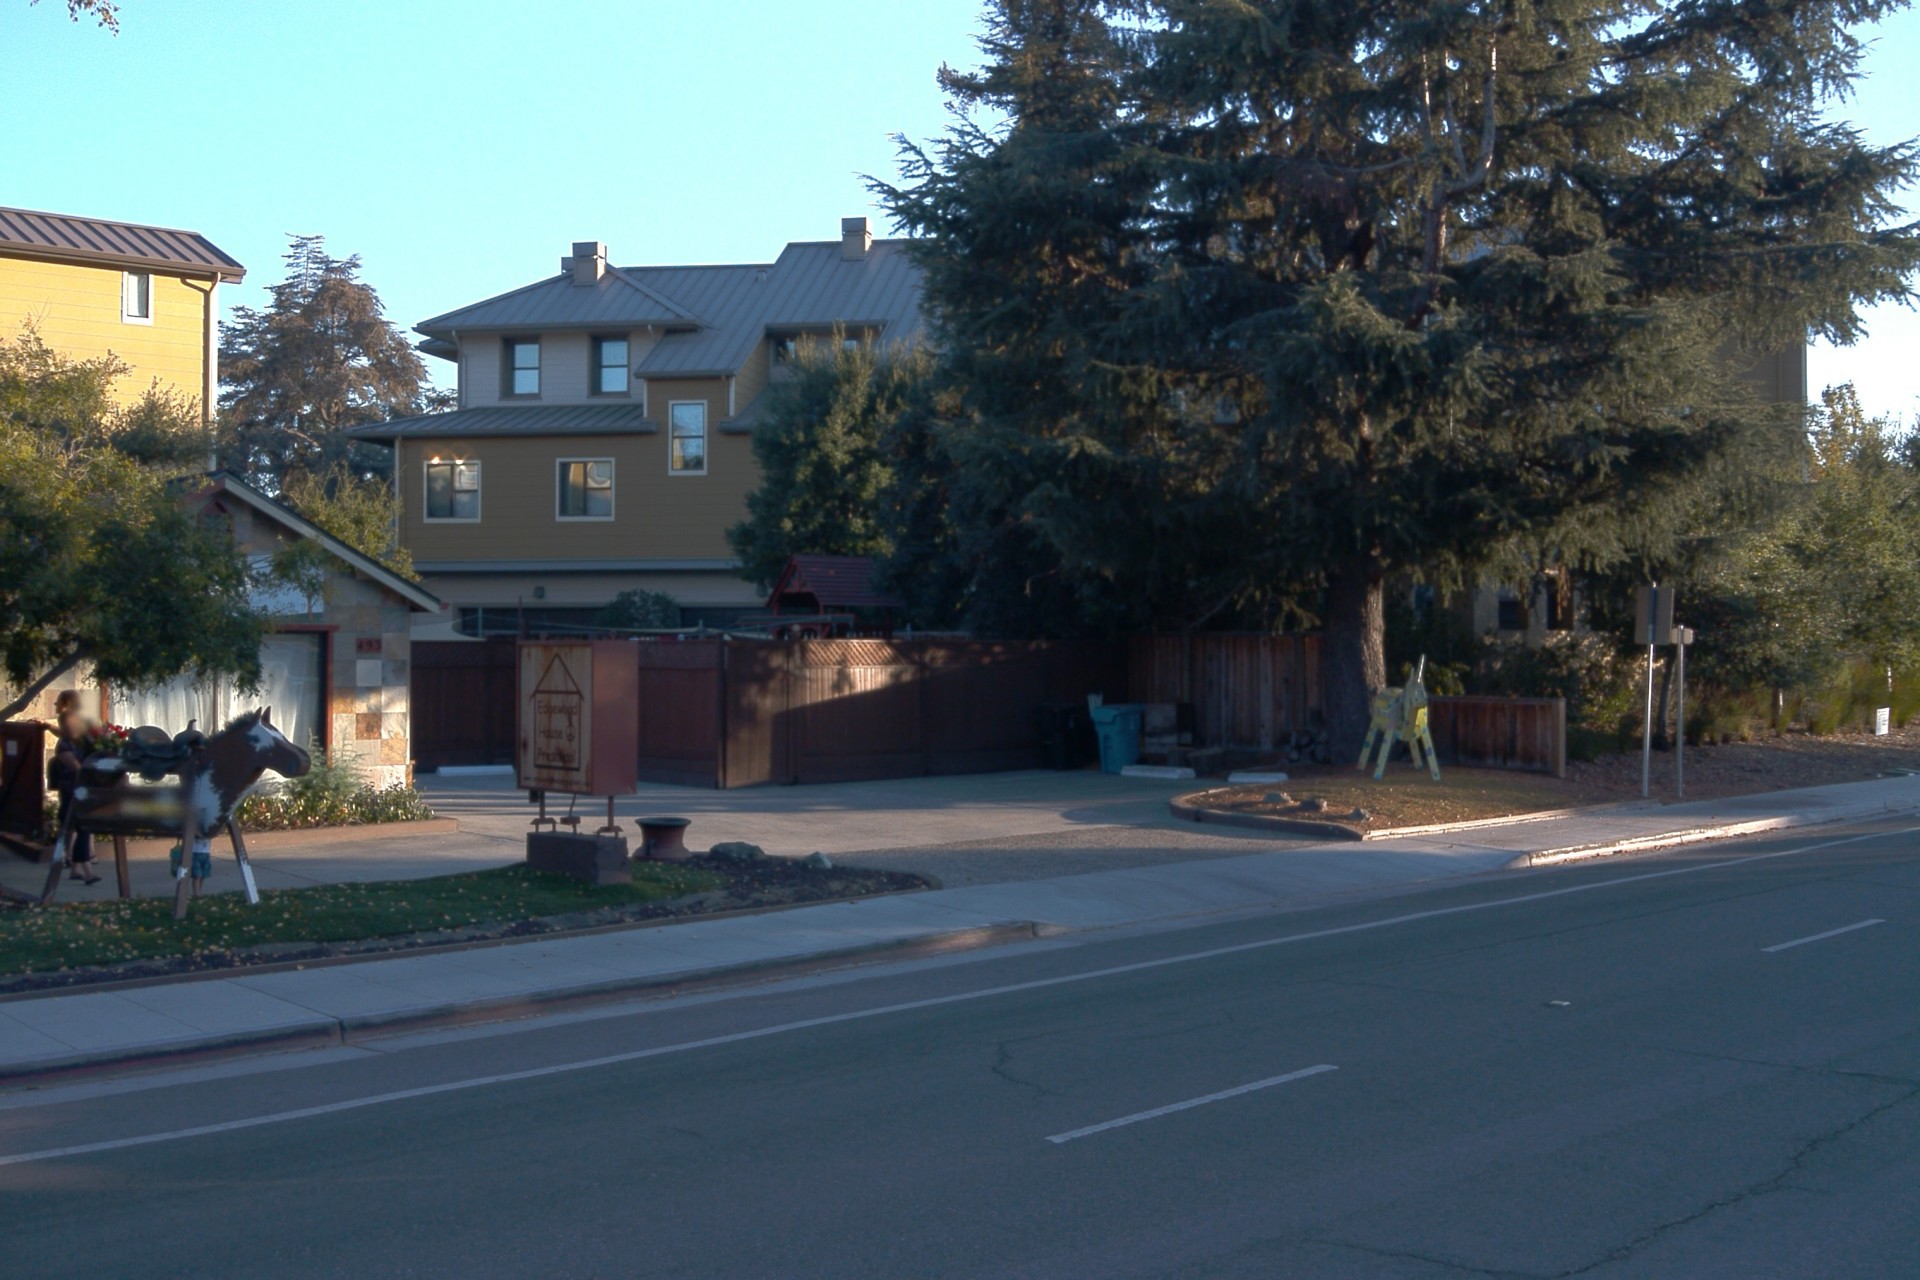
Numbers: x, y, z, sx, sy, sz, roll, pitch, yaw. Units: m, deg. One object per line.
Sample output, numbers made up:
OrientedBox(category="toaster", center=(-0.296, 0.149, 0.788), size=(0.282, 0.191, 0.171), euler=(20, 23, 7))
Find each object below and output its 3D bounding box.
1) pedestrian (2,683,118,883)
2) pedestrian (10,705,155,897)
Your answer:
OrientedBox(category="pedestrian", center=(-8.445, 1.326, 19.479), size=(0.819, 1.810, 0.747), euler=(0, 0, -8))
OrientedBox(category="pedestrian", center=(-7.831, 1.410, 18.503), size=(0.993, 1.630, 0.736), euler=(0, 0, 30))
